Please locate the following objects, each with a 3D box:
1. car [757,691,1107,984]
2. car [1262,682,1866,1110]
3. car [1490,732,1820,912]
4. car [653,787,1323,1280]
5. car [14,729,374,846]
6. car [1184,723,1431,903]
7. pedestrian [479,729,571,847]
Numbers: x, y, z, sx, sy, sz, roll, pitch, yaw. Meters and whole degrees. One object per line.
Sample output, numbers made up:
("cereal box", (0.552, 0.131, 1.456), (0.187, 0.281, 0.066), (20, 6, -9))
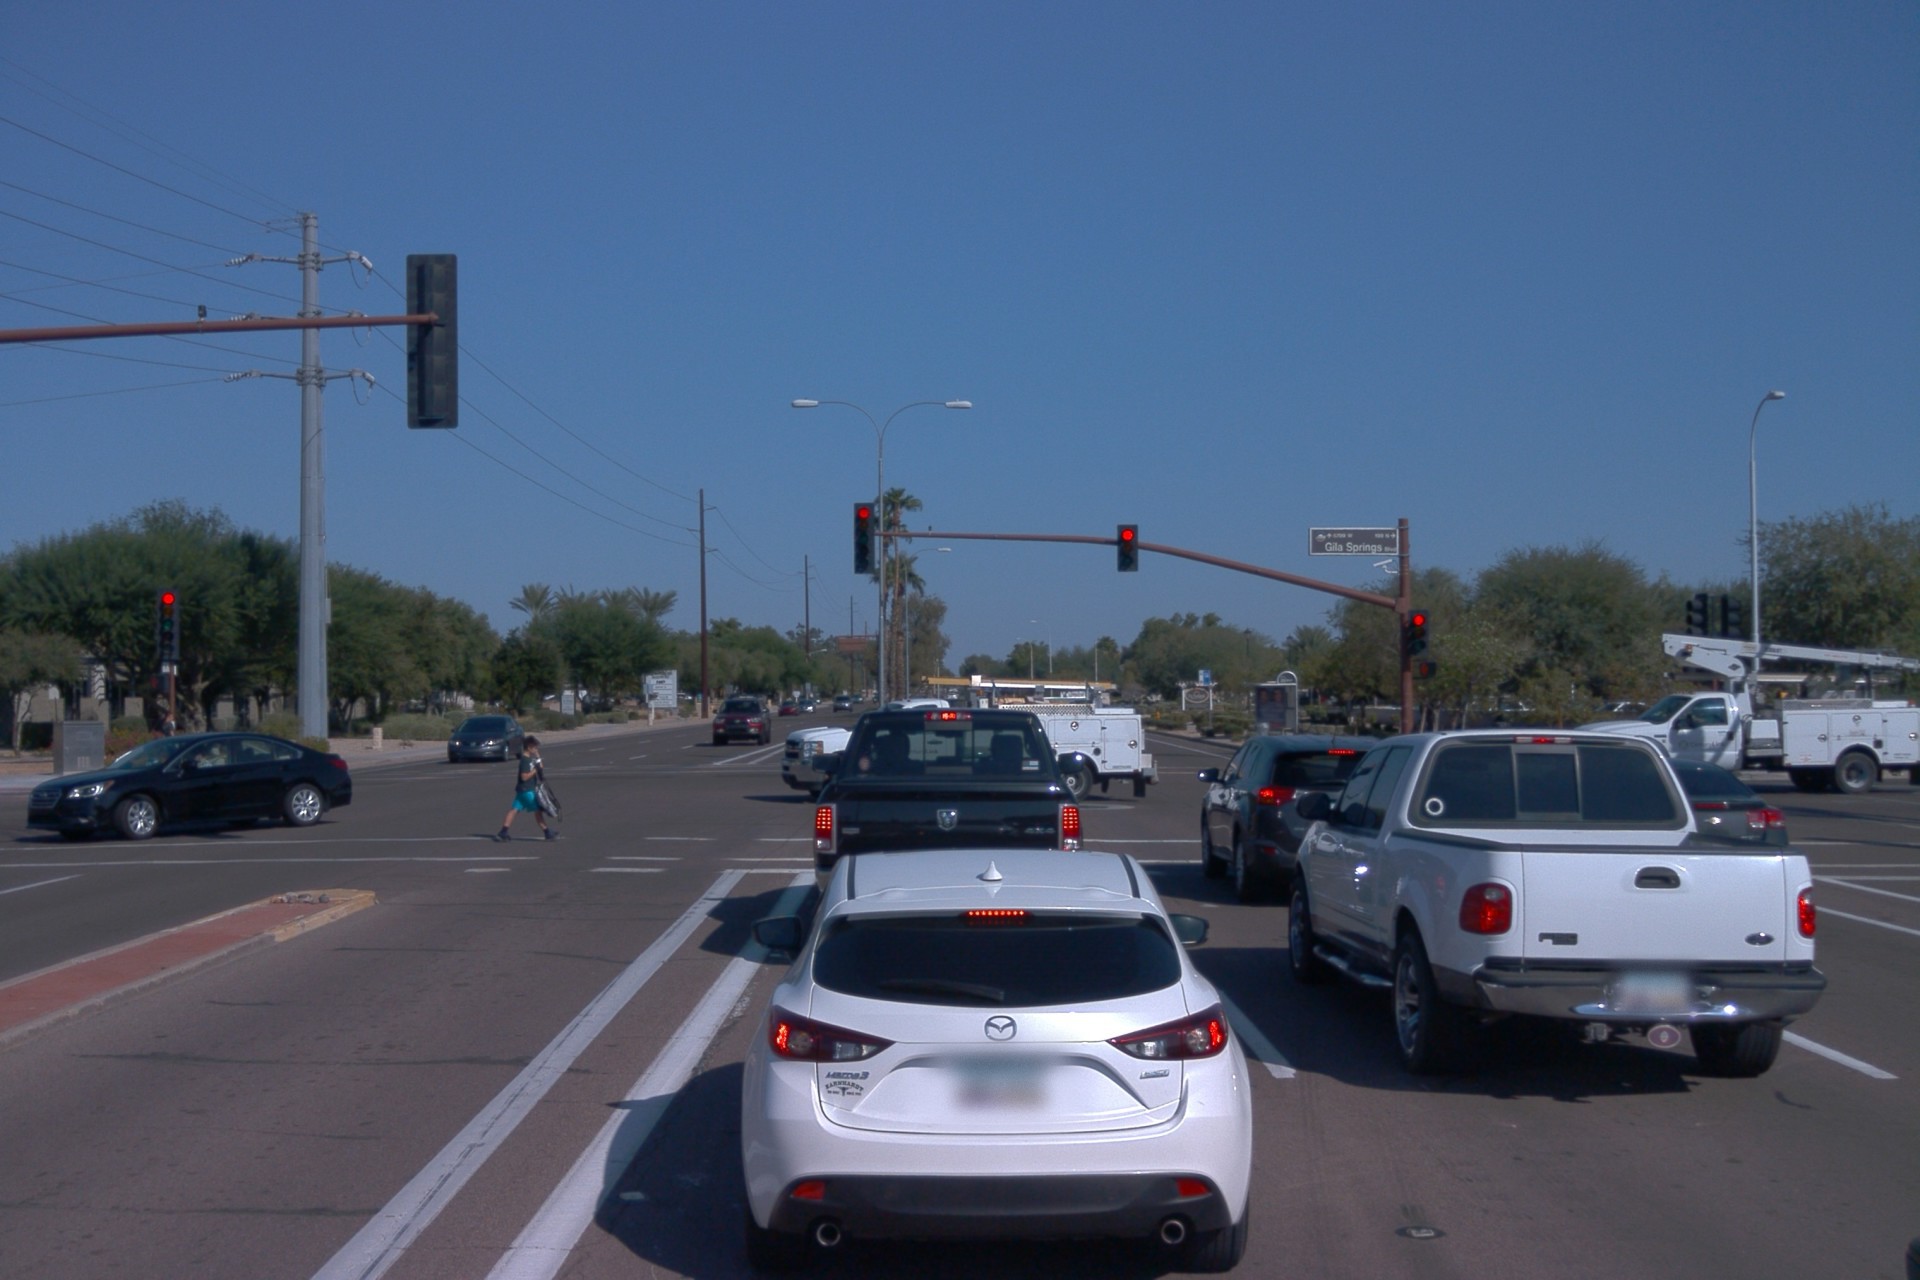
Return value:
("car", (-0.128, 1.472, 17.371), (2.500, 2.080, 5.001), (0, -1, 2))
("car", (3.324, 1.314, 12.848), (2.073, 2.070, 5.518), (0, -1, 0))
("car", (6.825, 1.733, 20.966), (1.828, 1.540, 4.447), (0, -1, 0))
("car", (0.091, 1.525, 8.854), (2.099, 1.600, 4.628), (0, -1, 0))
("car", (-11.294, 2.125, 31.001), (1.934, 1.530, 4.714), (-1, -2, 38))
("car", (3.485, 1.711, 21.638), (1.789, 1.630, 4.213), (0, -1, -1))
("pedestrian", (-5.754, 1.944, 27.587), (1.087, 1.530, 0.743), (0, -1, -3))
